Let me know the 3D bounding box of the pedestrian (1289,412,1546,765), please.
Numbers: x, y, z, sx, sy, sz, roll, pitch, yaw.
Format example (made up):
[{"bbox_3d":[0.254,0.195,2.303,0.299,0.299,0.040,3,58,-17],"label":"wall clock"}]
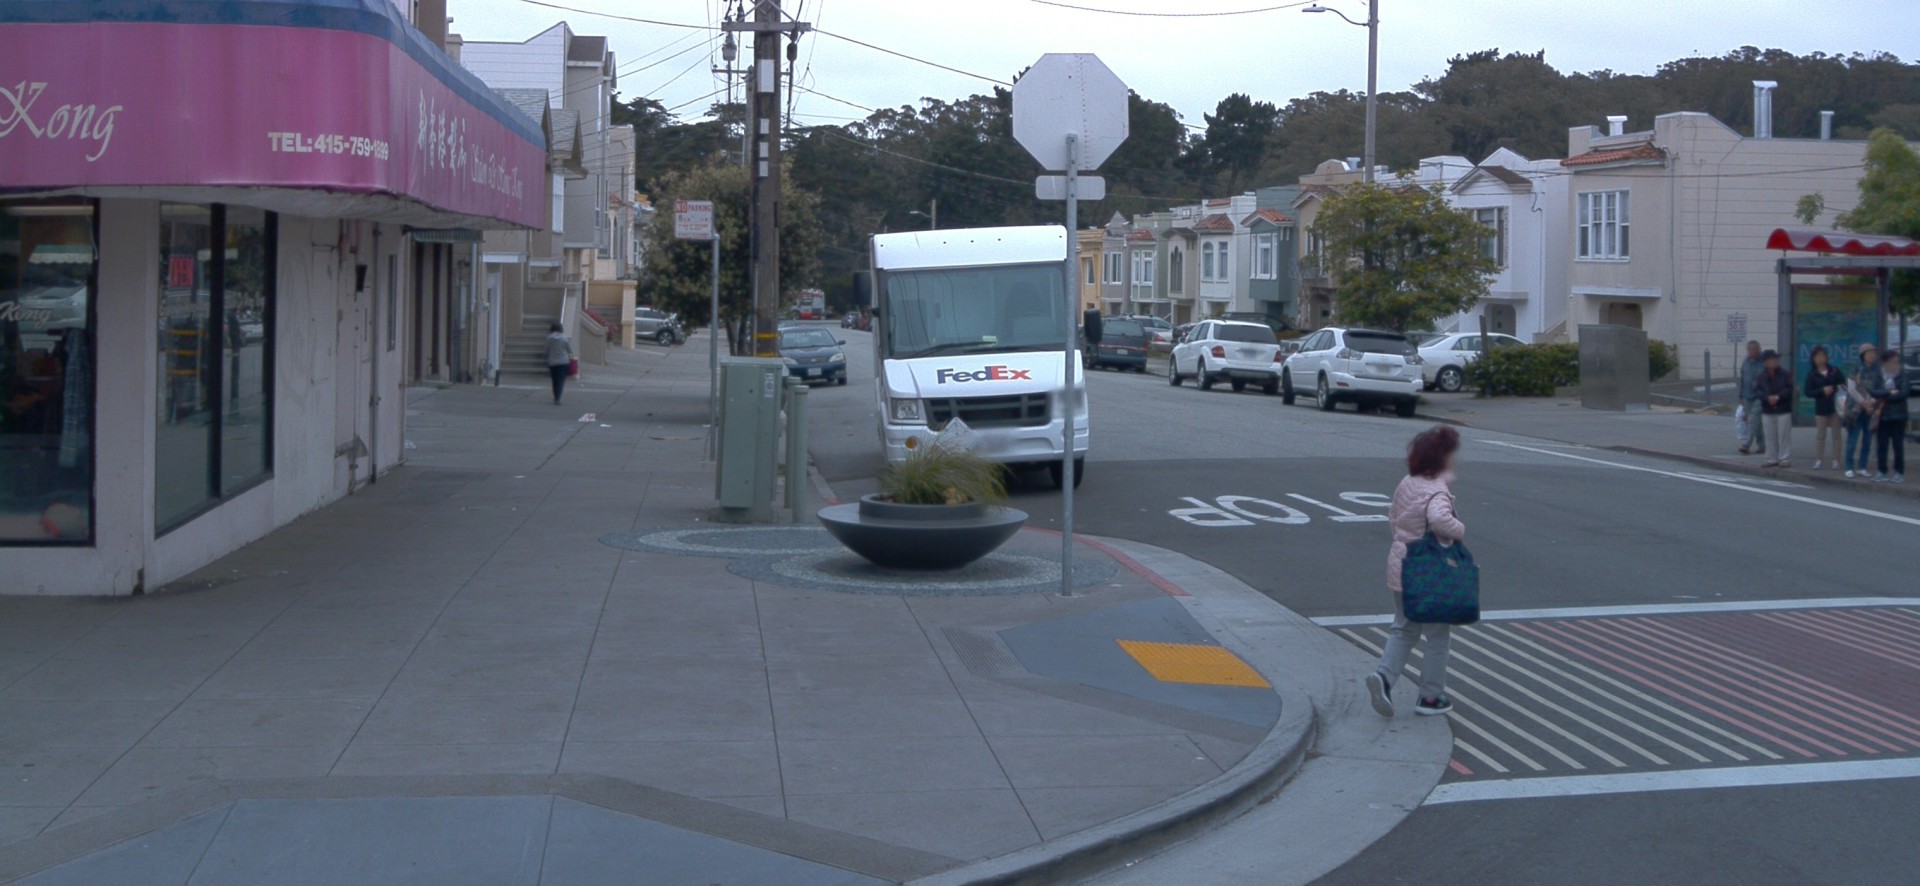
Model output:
[{"bbox_3d":[2.212,0.649,9.962,0.907,1.476,0.857,2,3,41],"label":"pedestrian"}]

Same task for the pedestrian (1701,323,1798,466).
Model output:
[{"bbox_3d":[11.005,-0.699,28.750,0.870,1.876,0.925,-2,2,-34],"label":"pedestrian"}]

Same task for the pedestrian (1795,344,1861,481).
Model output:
[{"bbox_3d":[10.922,-0.401,25.949,0.682,1.632,0.713,1,2,30],"label":"pedestrian"}]

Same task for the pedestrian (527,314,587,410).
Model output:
[{"bbox_3d":[-7.281,-1.474,37.290,0.939,1.678,0.686,0,2,-2],"label":"pedestrian"}]

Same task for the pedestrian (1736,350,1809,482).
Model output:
[{"bbox_3d":[10.449,-0.363,26.522,0.682,1.607,0.713,1,2,40],"label":"pedestrian"}]

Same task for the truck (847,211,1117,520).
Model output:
[{"bbox_3d":[0.072,-1.190,24.216,2.689,3.011,7.385,0,6,-2],"label":"truck"}]

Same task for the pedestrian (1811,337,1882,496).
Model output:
[{"bbox_3d":[10.695,-0.338,24.896,0.758,1.827,0.686,0,2,22],"label":"pedestrian"}]
